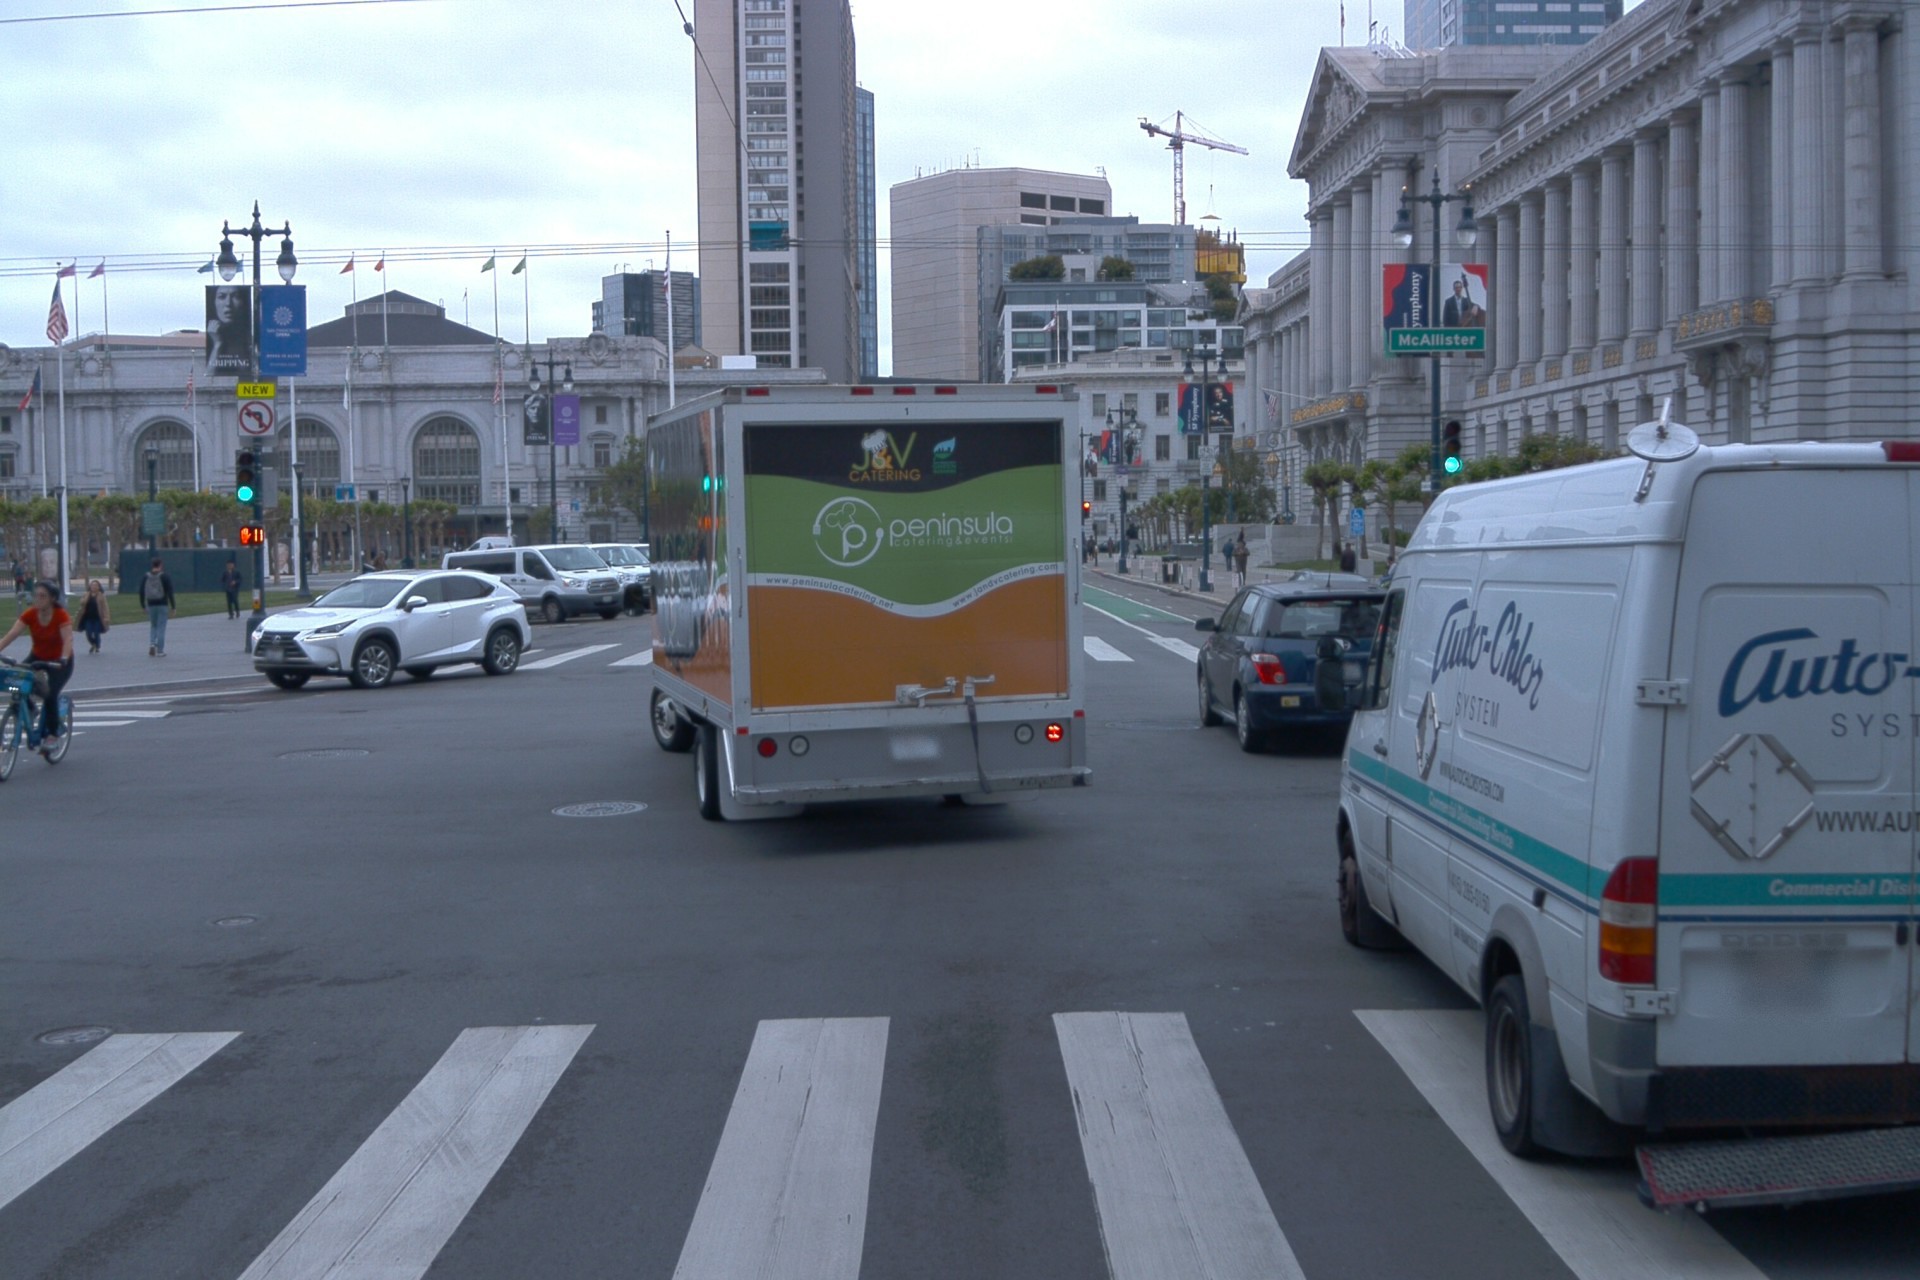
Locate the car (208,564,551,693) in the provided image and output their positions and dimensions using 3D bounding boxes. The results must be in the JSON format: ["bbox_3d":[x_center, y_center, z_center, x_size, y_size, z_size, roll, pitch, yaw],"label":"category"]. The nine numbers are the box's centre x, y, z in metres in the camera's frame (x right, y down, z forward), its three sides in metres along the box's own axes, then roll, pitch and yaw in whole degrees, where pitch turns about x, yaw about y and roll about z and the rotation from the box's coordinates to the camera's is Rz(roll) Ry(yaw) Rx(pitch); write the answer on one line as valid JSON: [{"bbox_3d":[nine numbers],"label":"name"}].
[{"bbox_3d":[-8.237,-0.193,29.633,2.194,1.692,4.575,0,1,28],"label":"car"}]

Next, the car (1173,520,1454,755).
[{"bbox_3d":[3.221,-0.056,19.514,1.934,1.990,4.032,0,1,0],"label":"car"}]

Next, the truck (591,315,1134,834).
[{"bbox_3d":[-1.216,-0.478,16.979,2.910,3.300,7.302,-1,1,-15],"label":"truck"}]
